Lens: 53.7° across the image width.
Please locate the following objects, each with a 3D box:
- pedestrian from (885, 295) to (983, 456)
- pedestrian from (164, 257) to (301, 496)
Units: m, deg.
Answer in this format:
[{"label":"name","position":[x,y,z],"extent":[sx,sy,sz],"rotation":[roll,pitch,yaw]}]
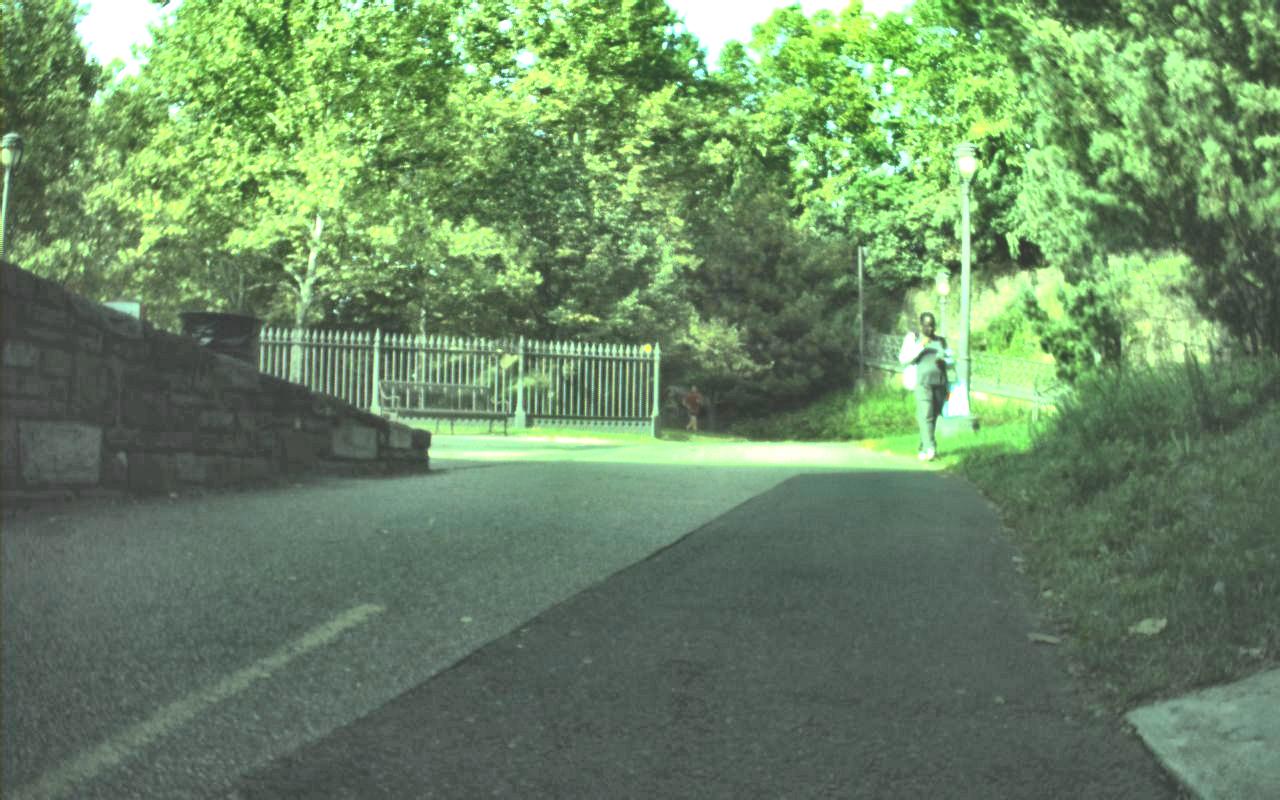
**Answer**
[{"label":"pedestrian","position":[3.229,-0.260,13.606],"extent":[0.806,1.707,0.833],"rotation":[0,0,-12]},{"label":"pedestrian","position":[-2.931,-0.163,8.648],"extent":[0.771,1.633,0.781],"rotation":[0,0,4]}]
